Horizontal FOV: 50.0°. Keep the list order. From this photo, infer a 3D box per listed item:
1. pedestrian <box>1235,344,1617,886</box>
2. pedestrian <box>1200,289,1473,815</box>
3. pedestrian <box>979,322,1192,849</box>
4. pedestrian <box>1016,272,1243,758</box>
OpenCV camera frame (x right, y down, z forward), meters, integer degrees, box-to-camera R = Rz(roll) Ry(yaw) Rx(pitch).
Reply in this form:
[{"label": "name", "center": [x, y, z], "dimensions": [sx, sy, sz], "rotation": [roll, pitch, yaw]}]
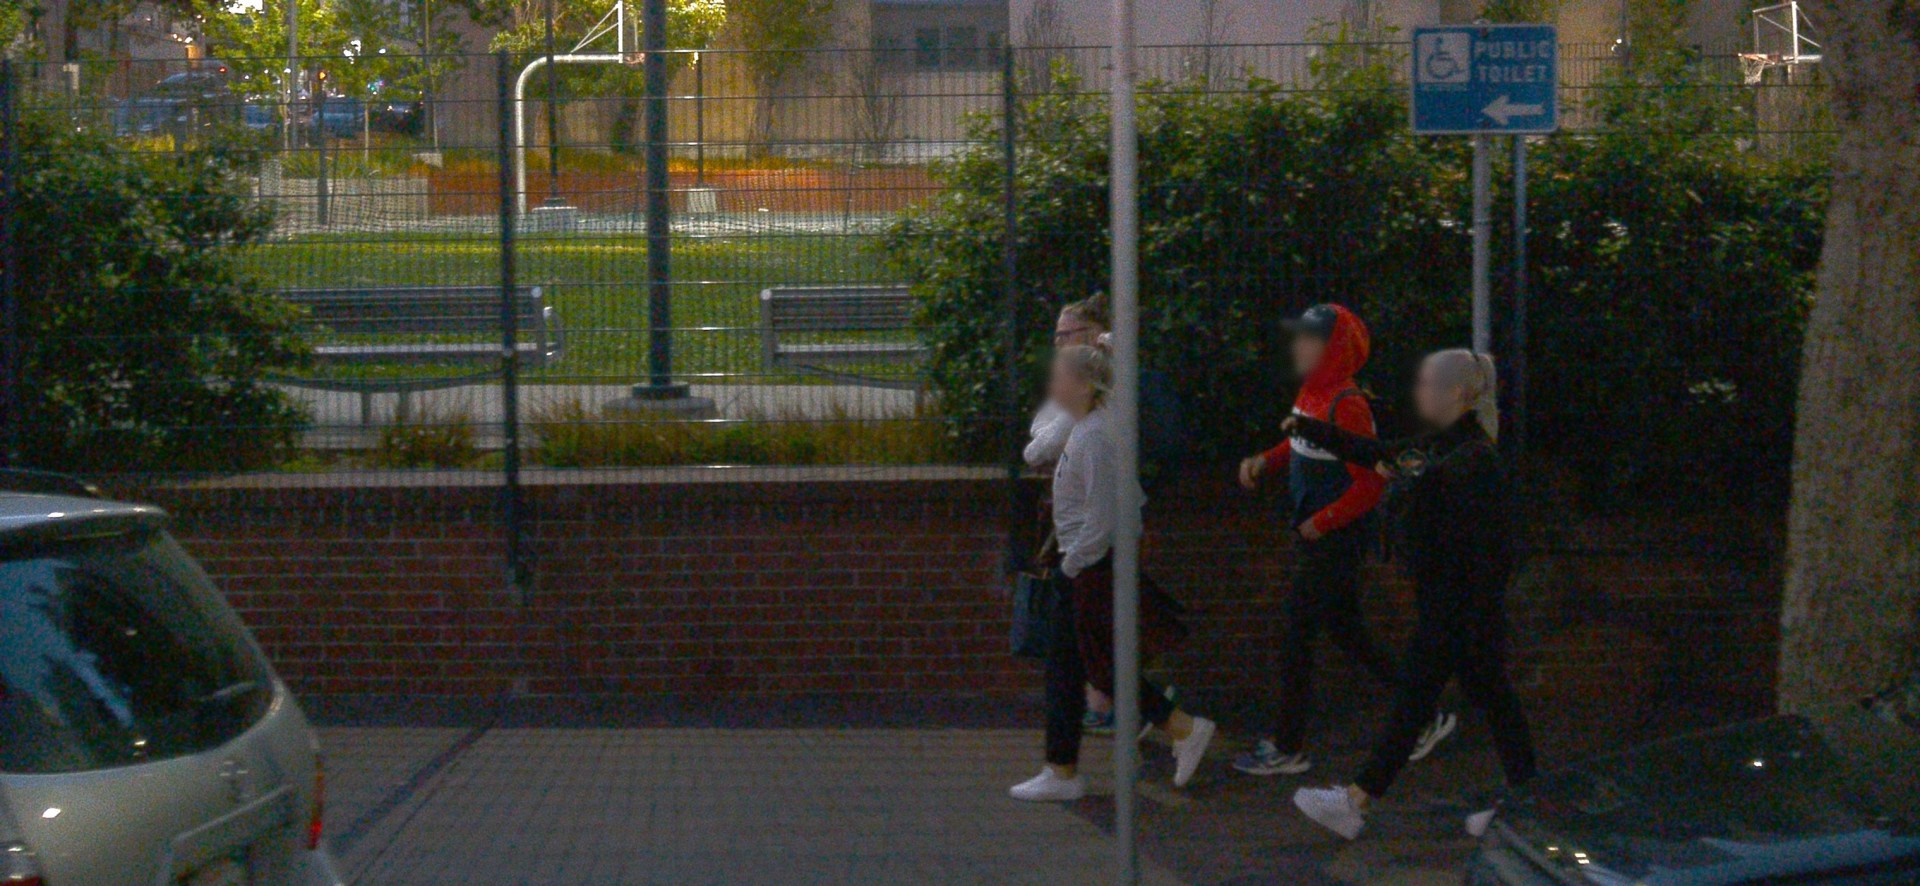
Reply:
[{"label": "pedestrian", "center": [1.529, 0.568, 6.933], "dimensions": [1.045, 1.747, 0.908], "rotation": [0, 2, -3]}, {"label": "pedestrian", "center": [1.407, 0.362, 7.830], "dimensions": [0.844, 1.867, 0.815], "rotation": [0, 2, -4]}, {"label": "pedestrian", "center": [0.453, 0.467, 7.428], "dimensions": [0.726, 1.767, 0.739], "rotation": [0, 2, 4]}, {"label": "pedestrian", "center": [0.655, 0.250, 8.177], "dimensions": [0.834, 1.837, 0.651], "rotation": [0, 2, -1]}]
